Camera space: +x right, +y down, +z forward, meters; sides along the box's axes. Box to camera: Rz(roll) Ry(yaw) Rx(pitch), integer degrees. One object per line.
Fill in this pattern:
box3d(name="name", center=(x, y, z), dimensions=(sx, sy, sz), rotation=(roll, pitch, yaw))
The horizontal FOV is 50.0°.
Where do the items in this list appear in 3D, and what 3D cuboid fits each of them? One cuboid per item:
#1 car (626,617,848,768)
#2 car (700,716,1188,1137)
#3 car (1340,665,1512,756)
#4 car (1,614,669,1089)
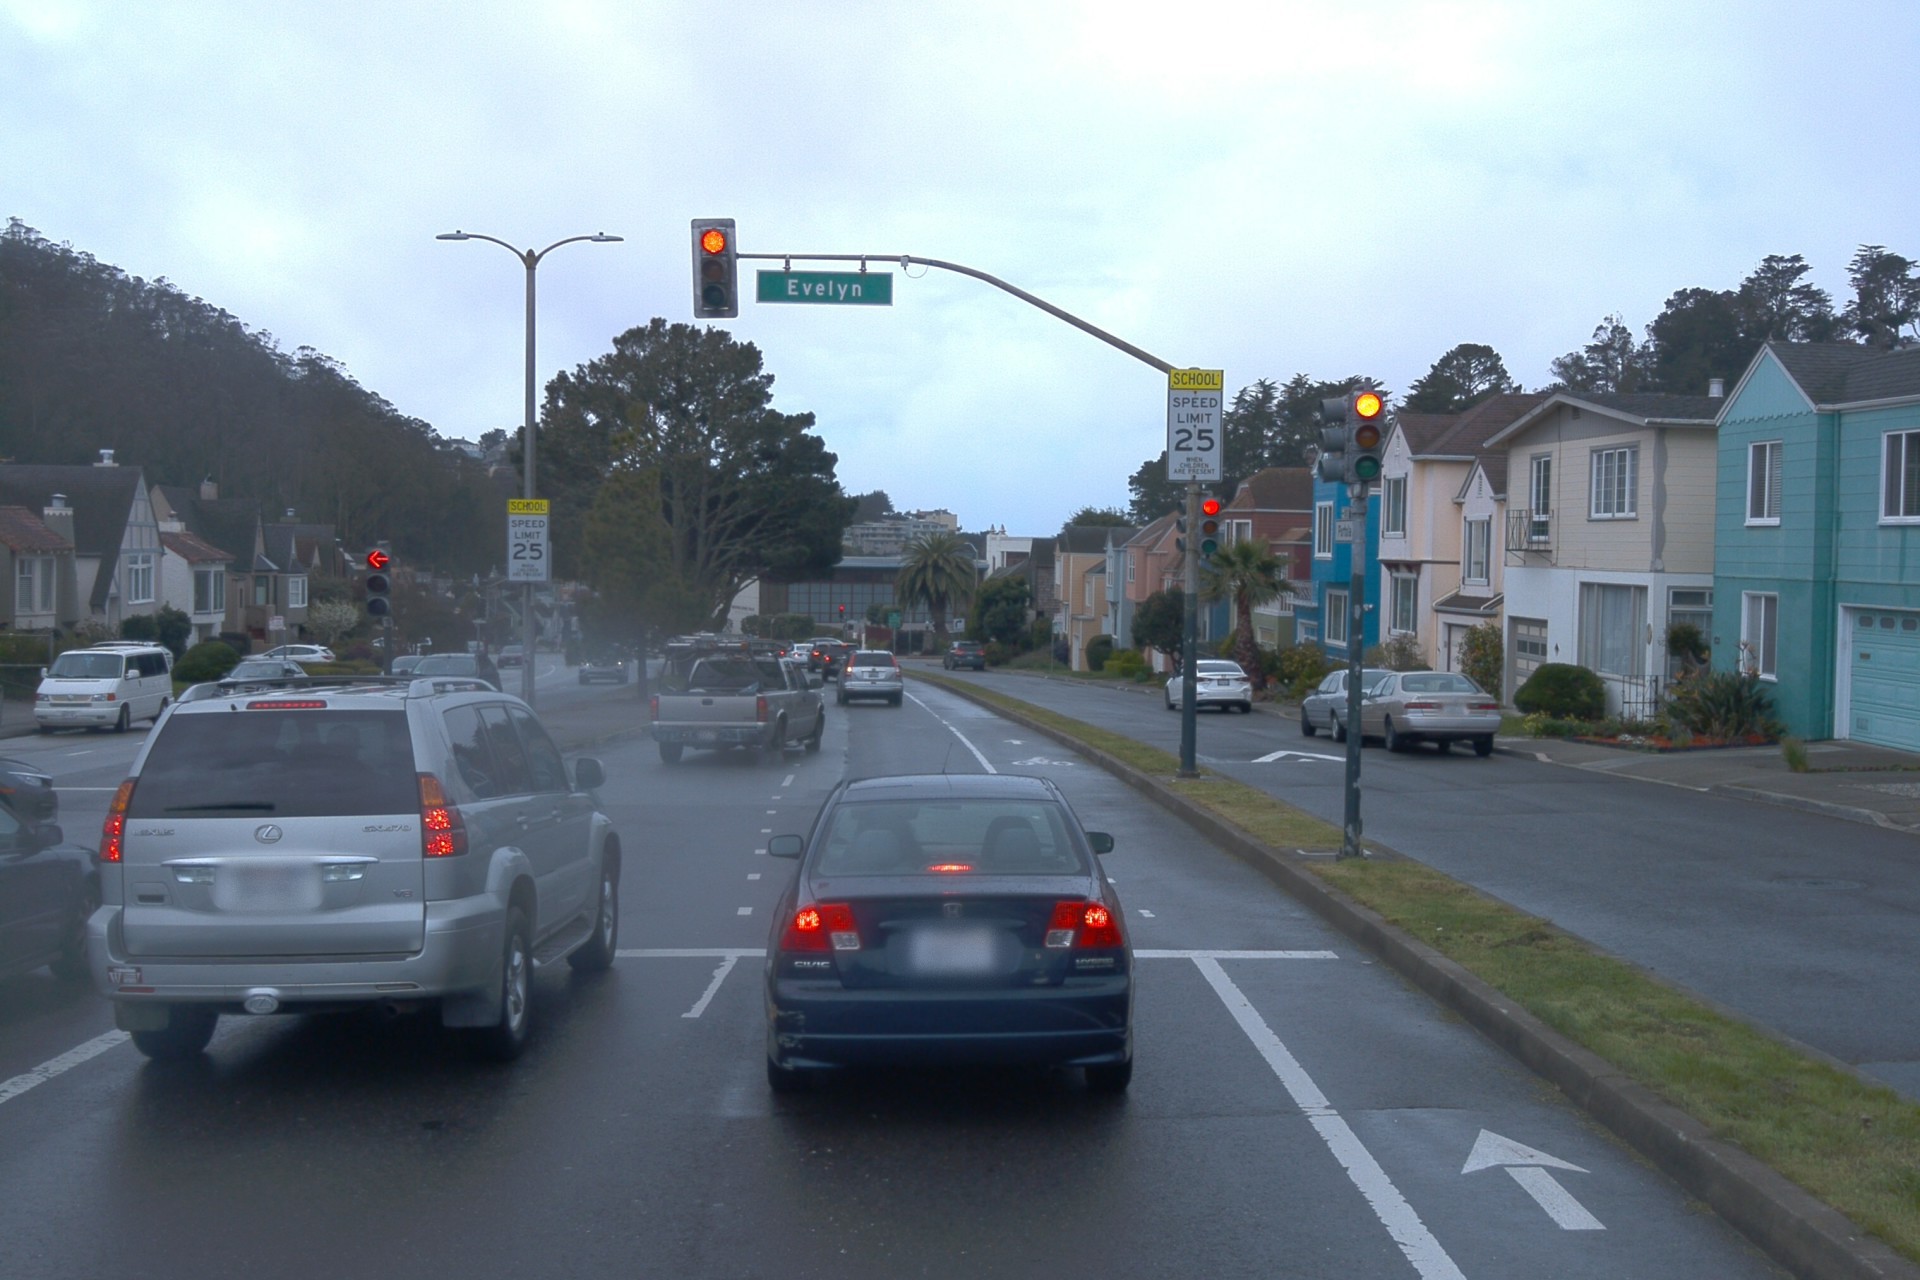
box3d(name="car", center=(-3.667, 0.819, 35.288), dimensions=(2.434, 2.350, 5.972), rotation=(0, 0, 7))
box3d(name="car", center=(-0.107, 1.250, 10.545), dimensions=(2.004, 1.570, 4.164), rotation=(0, 0, -1))
box3d(name="car", center=(8.081, 1.186, 36.133), dimensions=(1.755, 1.440, 4.469), rotation=(0, 0, -4))
box3d(name="car", center=(-3.061, 0.924, 11.362), dimensions=(2.249, 2.070, 4.734), rotation=(0, 0, 0))
